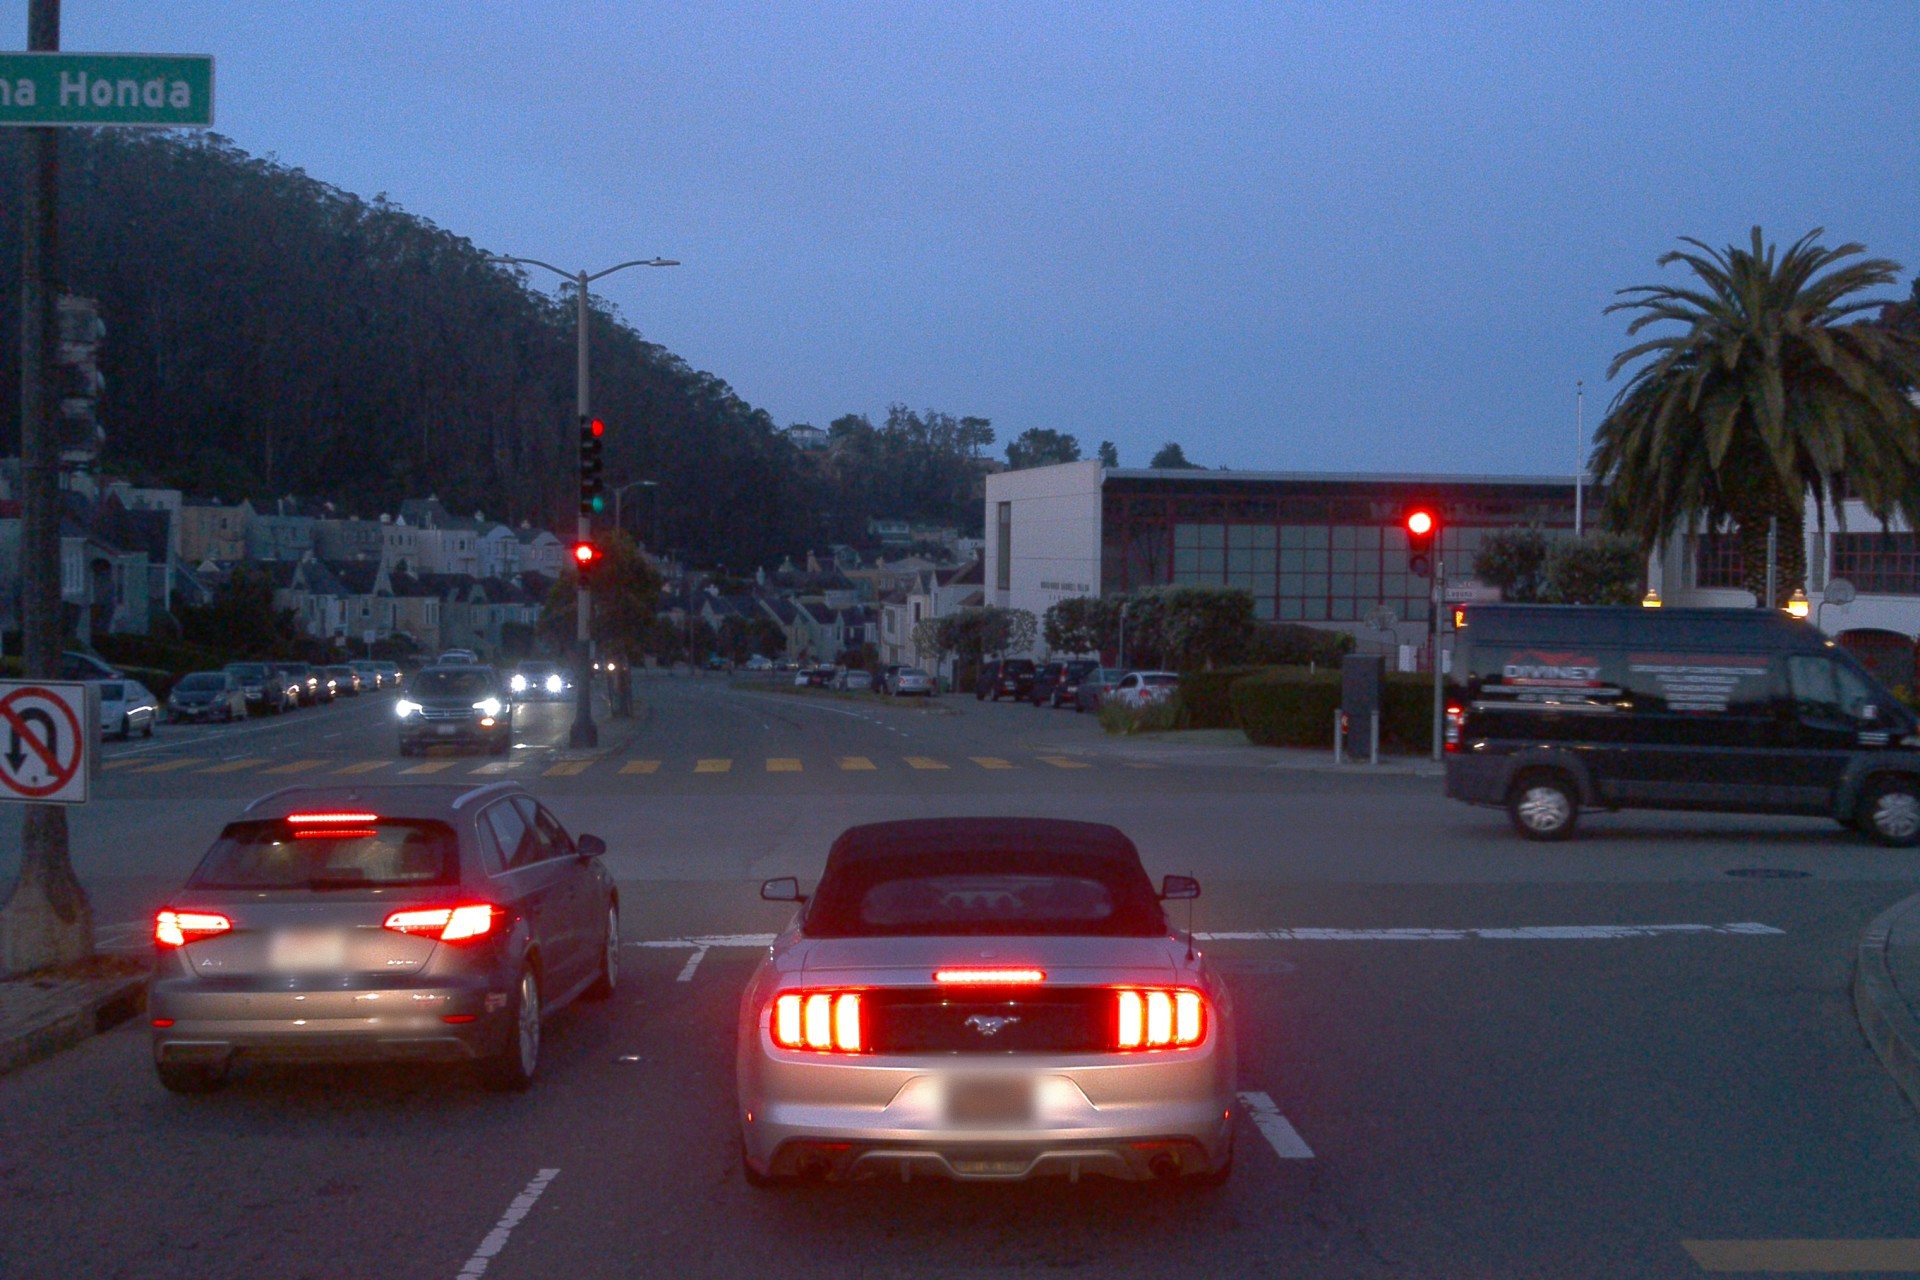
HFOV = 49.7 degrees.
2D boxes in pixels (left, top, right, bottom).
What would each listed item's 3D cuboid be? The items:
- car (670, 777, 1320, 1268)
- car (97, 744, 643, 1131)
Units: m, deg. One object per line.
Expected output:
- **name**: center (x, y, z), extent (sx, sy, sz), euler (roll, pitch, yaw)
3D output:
- **car**: center (0.099, 1.423, 9.110), extent (2.174, 1.380, 4.355), euler (0, 0, 0)
- **car**: center (-2.886, 1.404, 11.058), extent (1.782, 1.510, 3.987), euler (0, 0, 0)
